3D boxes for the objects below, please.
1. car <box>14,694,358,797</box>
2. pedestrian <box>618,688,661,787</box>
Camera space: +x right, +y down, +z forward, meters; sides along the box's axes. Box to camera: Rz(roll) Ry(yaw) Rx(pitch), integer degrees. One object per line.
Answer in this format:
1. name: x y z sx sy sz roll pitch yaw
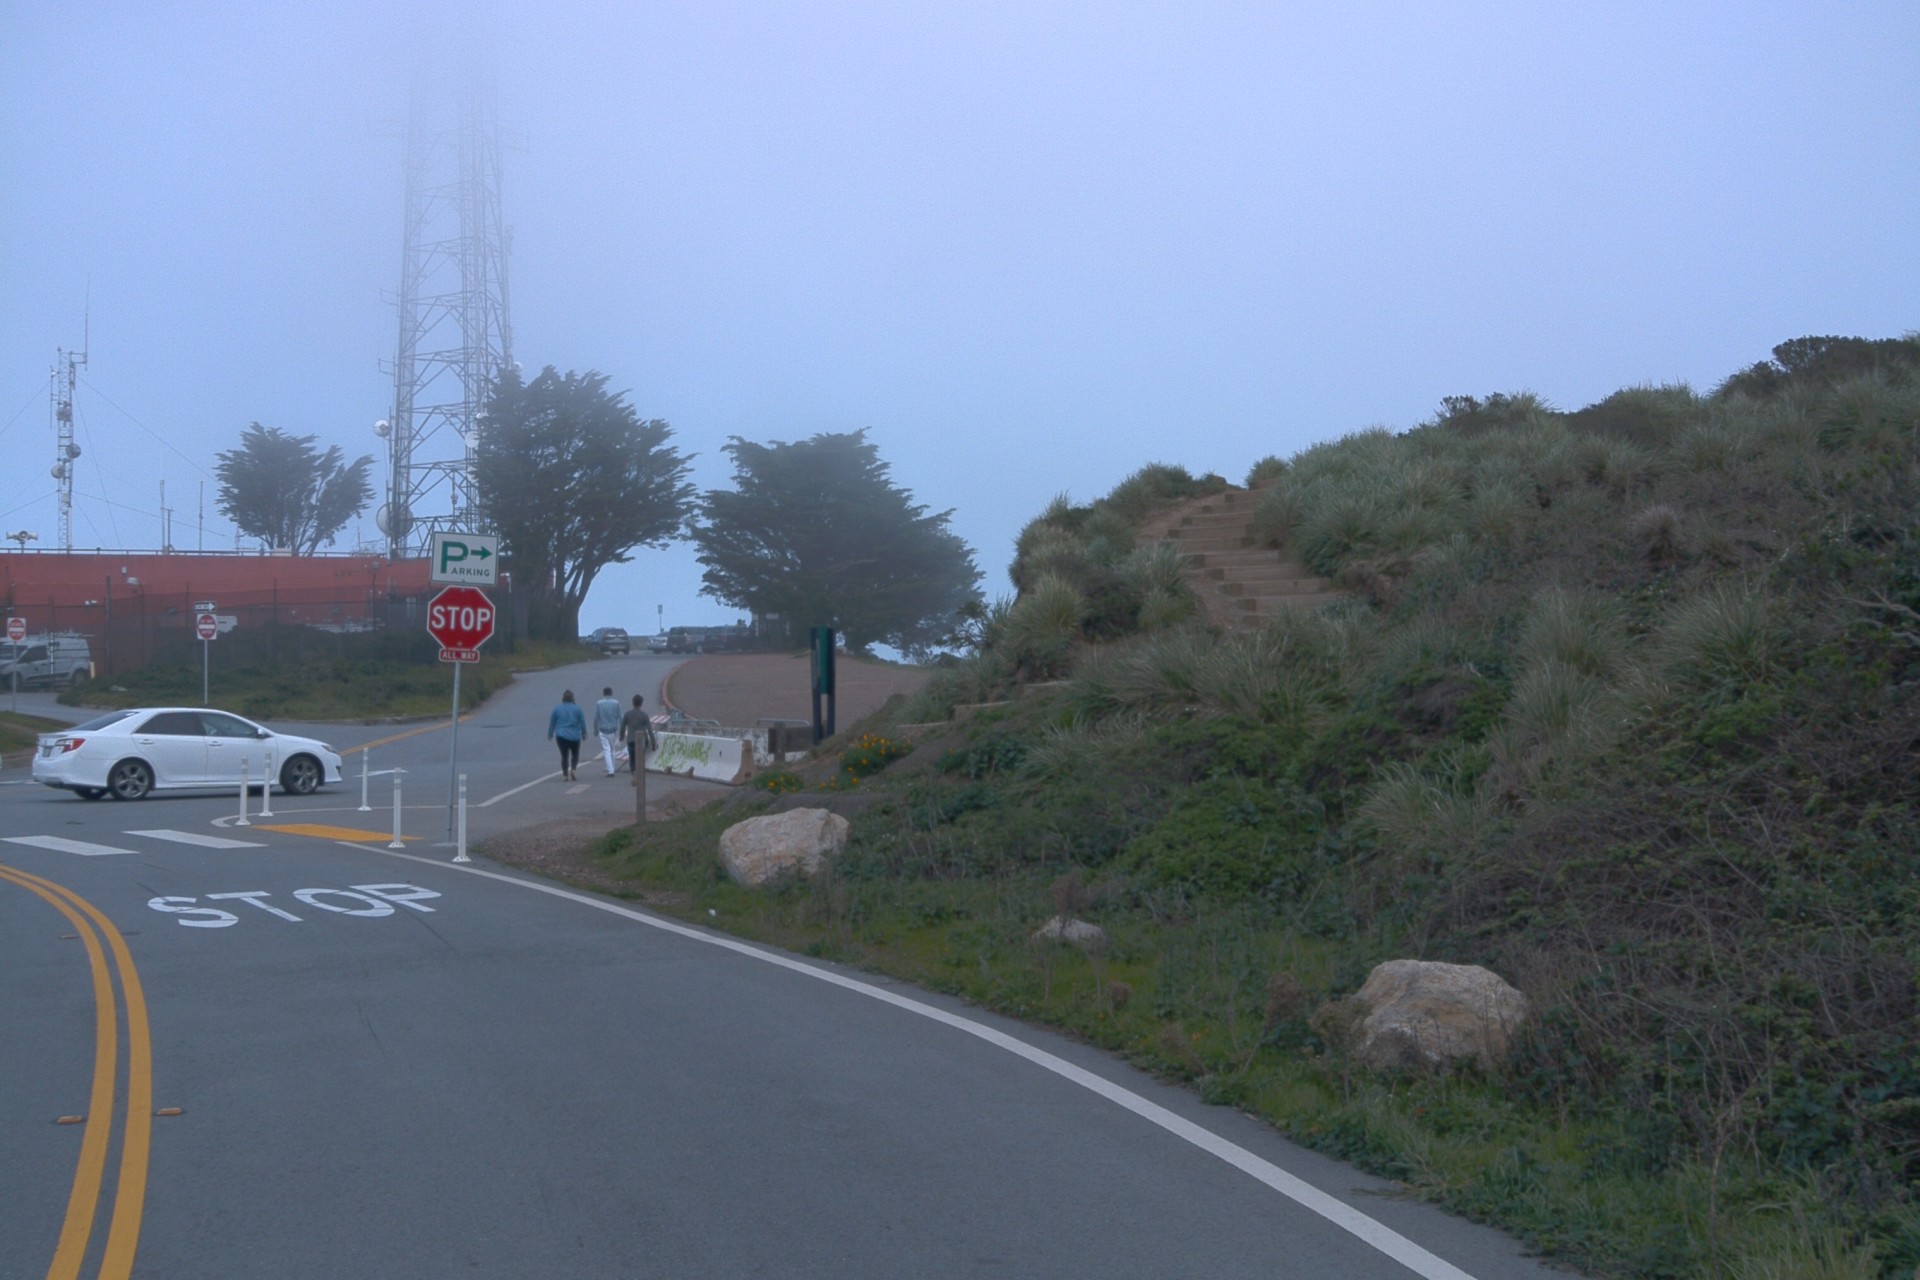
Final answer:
1. car: -12.350 1.635 33.228 4.691 1.440 2.175 0 0 -42
2. pedestrian: -5.705 1.719 36.841 0.732 1.720 1.096 0 0 -11
